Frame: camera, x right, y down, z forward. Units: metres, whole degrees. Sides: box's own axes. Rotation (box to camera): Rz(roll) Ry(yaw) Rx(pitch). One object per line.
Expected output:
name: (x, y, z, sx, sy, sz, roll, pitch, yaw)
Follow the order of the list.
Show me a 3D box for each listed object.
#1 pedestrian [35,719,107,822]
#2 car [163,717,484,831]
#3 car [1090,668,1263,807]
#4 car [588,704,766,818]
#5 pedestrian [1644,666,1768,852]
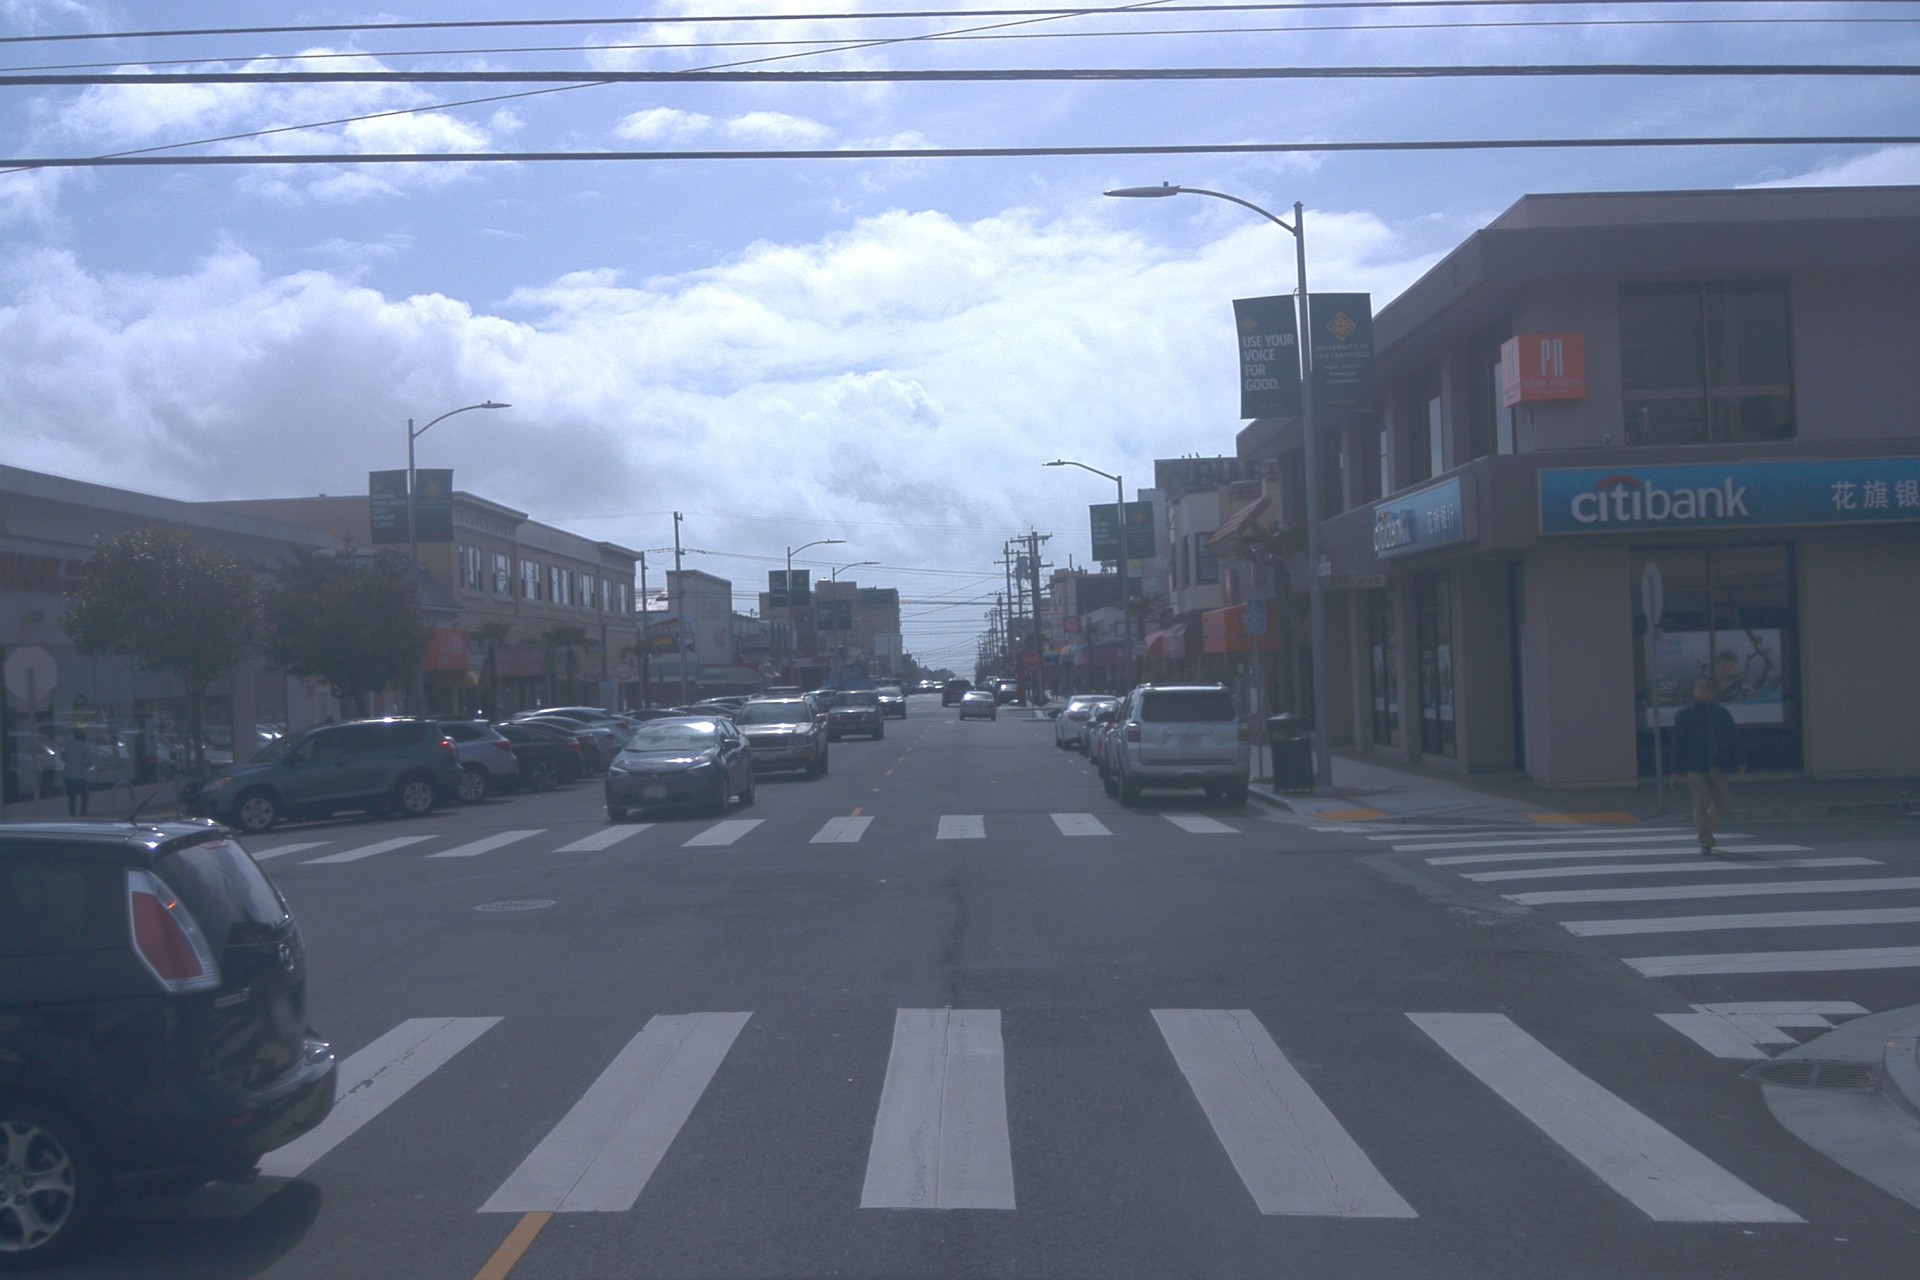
pedestrian: (-14.583, 2.133, 34.029, 0.791, 1.643, 0.931, 0, -1, -2)
car: (-10.548, 2.168, 34.507, 4.689, 1.670, 2.069, 0, -1, -36)
car: (3.234, 1.424, 31.924, 2.072, 1.977, 4.682, 0, -1, -1)
car: (-4.264, 1.799, 31.975, 2.013, 1.553, 4.581, 0, -1, 1)
pedestrian: (7.131, 1.122, 19.856, 0.849, 1.734, 0.949, 0, -1, 1)
